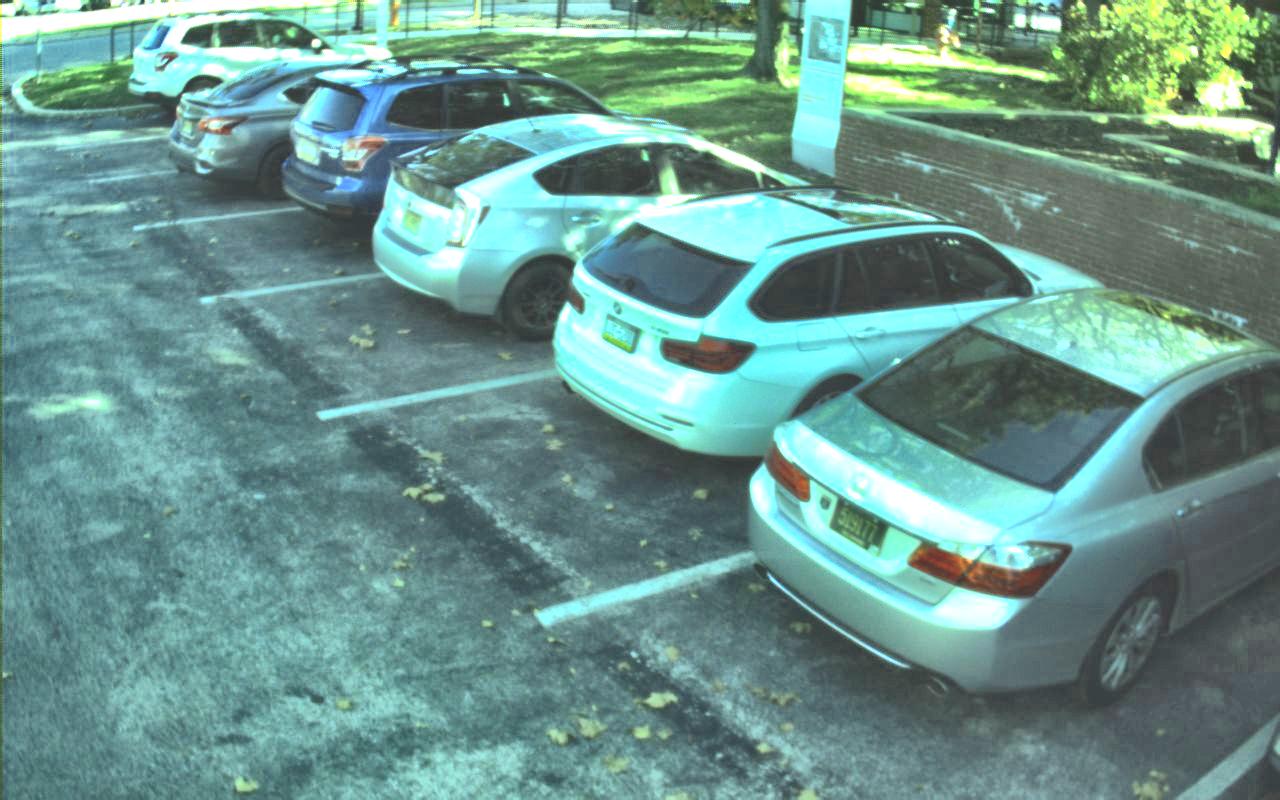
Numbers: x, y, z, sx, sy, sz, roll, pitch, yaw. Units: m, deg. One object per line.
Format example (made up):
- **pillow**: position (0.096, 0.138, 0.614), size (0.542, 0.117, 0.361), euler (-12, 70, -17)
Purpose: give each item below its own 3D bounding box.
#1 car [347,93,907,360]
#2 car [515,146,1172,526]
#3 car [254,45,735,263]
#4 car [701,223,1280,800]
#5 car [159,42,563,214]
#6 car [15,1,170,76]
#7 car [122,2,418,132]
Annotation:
- **car**: position (-0.005, -1.631, 10.354), size (4.361, 1.566, 1.903), euler (-12, 19, -32)
- **car**: position (1.593, -0.719, 8.282), size (4.392, 1.572, 1.929), euler (-12, 20, -33)
- **car**: position (-1.409, -2.629, 12.391), size (4.511, 1.705, 1.965), euler (-13, 20, -35)
- **car**: position (2.635, 0.168, 6.082), size (4.417, 1.539, 1.920), euler (-12, 20, -32)
- **car**: position (-3.310, -3.301, 14.284), size (4.485, 1.547, 1.929), euler (-13, 20, -34)
- **car**: position (-15.586, -10.101, 31.500), size (4.527, 1.590, 1.933), euler (-11, 19, -31)
- **car**: position (-6.058, -5.422, 19.155), size (4.593, 1.672, 1.965), euler (-13, 20, -35)
